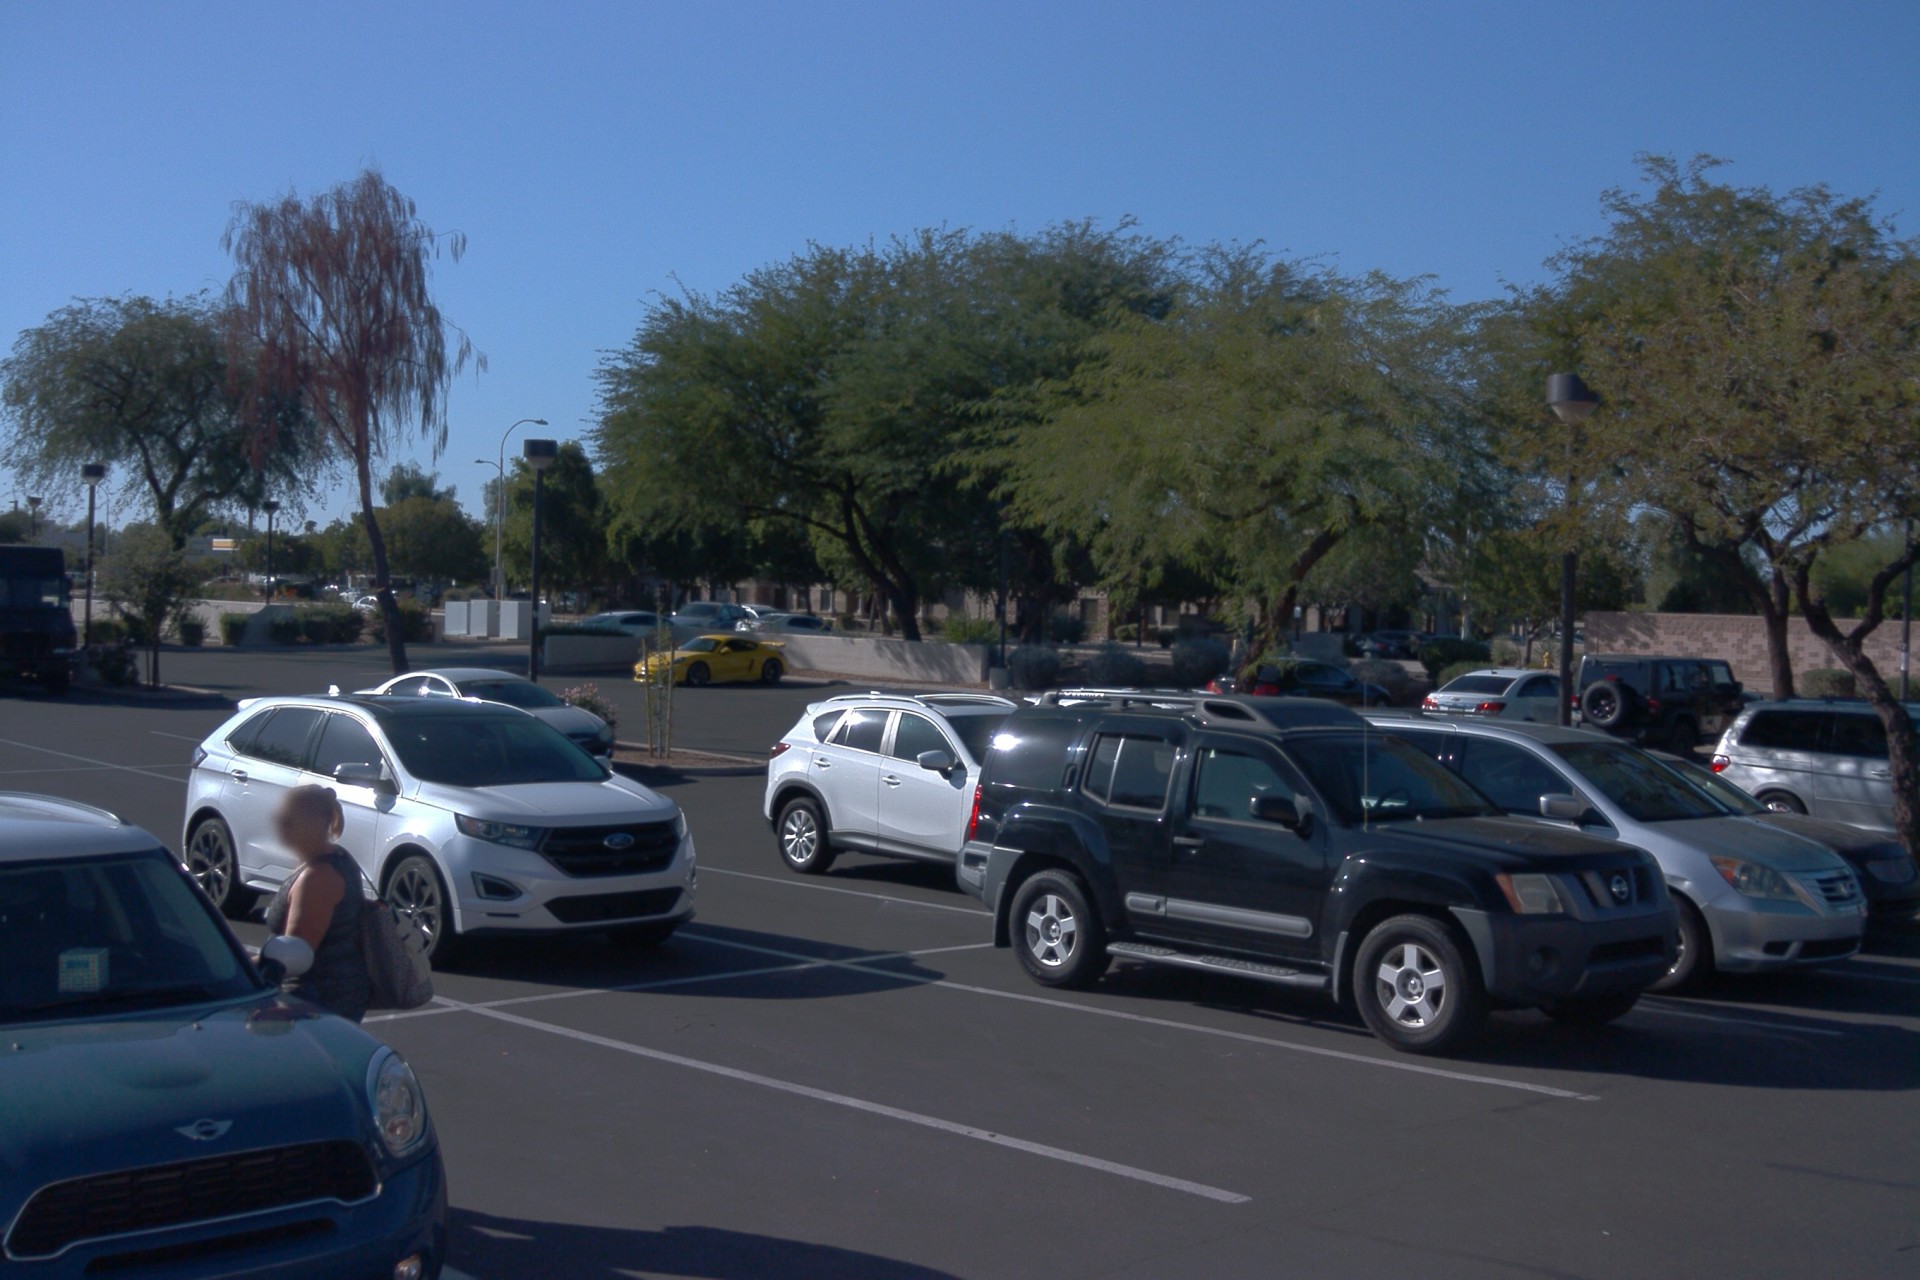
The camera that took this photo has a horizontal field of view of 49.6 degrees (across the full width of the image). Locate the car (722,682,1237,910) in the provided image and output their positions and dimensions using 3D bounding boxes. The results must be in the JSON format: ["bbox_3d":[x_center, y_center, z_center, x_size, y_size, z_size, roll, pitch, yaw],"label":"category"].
[{"bbox_3d":[0.079,1.290,18.880,2.160,1.720,4.434,1,0,-44],"label":"car"}]

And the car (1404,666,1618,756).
[{"bbox_3d":[9.882,1.233,37.092,3.932,1.500,1.889,1,0,-43],"label":"car"}]

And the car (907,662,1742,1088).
[{"bbox_3d":[2.048,1.198,12.773,2.178,2.050,4.676,1,0,-43],"label":"car"}]

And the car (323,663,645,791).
[{"bbox_3d":[-6.916,1.180,29.797,5.046,1.600,2.114,1,0,45],"label":"car"}]

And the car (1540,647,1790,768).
[{"bbox_3d":[12.143,1.106,35.578,4.751,1.910,2.026,1,0,-43],"label":"car"}]

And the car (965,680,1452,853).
[{"bbox_3d":[2.427,1.194,21.184,2.057,1.460,4.663,1,0,-44],"label":"car"}]

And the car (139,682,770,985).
[{"bbox_3d":[-3.761,1.214,14.943,4.659,1.720,2.253,1,0,44],"label":"car"}]

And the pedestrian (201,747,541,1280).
[{"bbox_3d":[-2.170,1.295,7.605,0.966,1.750,0.923,1,0,-31],"label":"pedestrian"}]
